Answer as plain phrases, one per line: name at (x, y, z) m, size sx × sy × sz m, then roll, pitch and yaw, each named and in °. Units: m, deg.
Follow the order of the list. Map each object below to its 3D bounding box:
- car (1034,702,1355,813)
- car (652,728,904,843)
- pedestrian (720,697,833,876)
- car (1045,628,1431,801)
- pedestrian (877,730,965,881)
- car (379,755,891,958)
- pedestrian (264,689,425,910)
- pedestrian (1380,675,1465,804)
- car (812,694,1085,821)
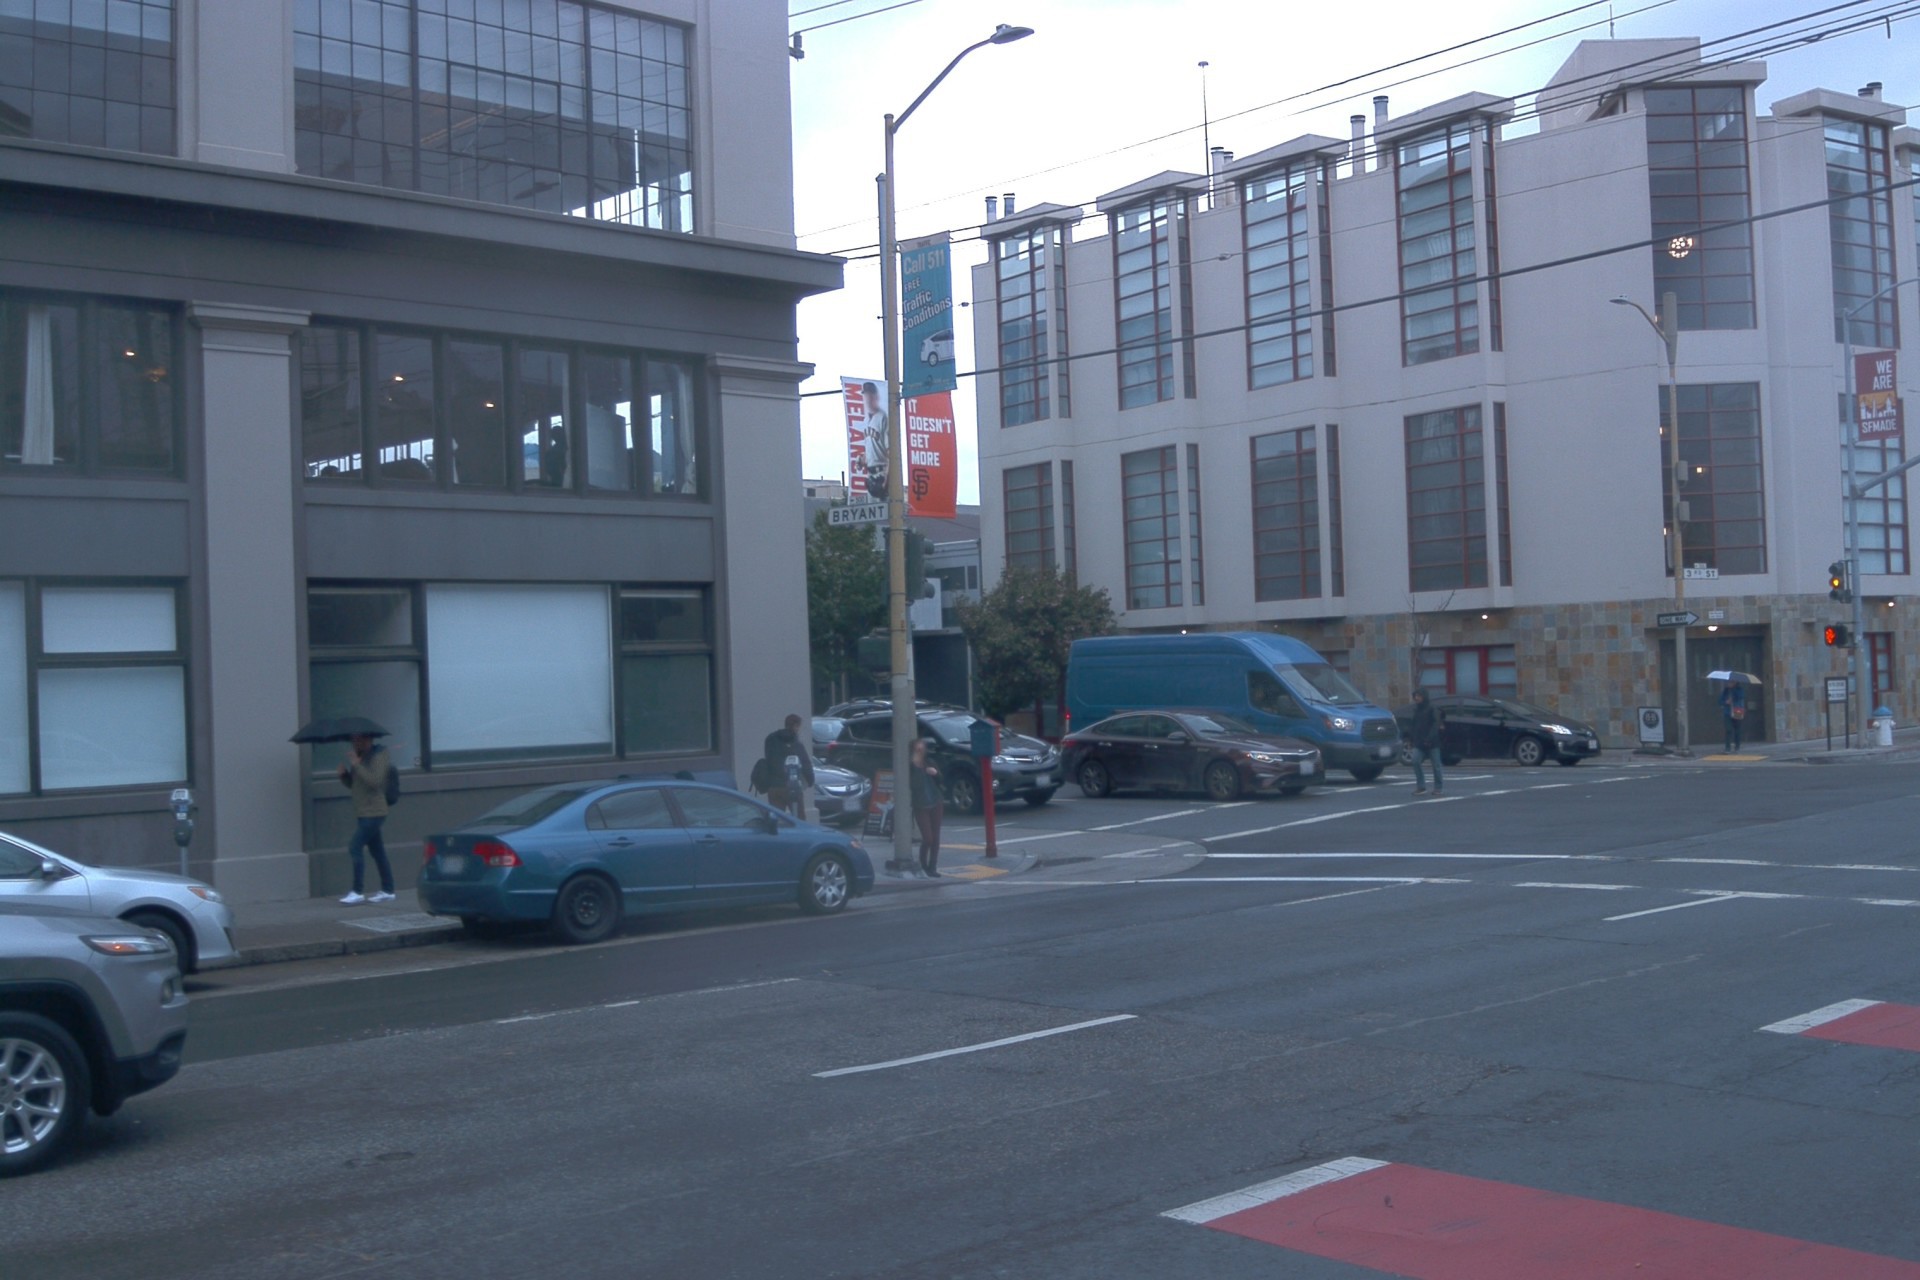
car at (3.750, 1.847, 33.952) m, size 2.239 × 1.530 × 4.968 m, roll 0°, pitch 0°, yaw -42°
car at (-2.864, 2.207, 32.343) m, size 3.718 × 1.530 × 1.919 m, roll 0°, pitch 0°, yaw 43°
pedestrian at (-2.125, 1.672, 24.158) m, size 0.911 × 1.990 × 0.965 m, roll 0°, pitch 0°, yaw 28°
car at (4.852, 1.229, 37.401) m, size 2.535 × 2.840 × 6.740 m, roll 0°, pitch 0°, yaw -45°
pedestrian at (-0.450, 1.890, 23.987) m, size 0.826 × 1.670 × 0.590 m, roll 0°, pitch 0°, yaw -43°
car at (-2.934, 1.911, 19.442) m, size 4.430 × 1.440 × 1.913 m, roll 0°, pitch 0°, yaw -44°
pedestrian at (-6.230, 1.572, 21.050) m, size 1.190 × 2.110 × 1.132 m, roll 0°, pitch 0°, yaw -43°
pedestrian at (7.143, 1.516, 32.126) m, size 0.873 × 1.920 × 1.018 m, roll 0°, pitch 0°, yaw 43°
car at (-0.244, 1.855, 34.150) m, size 2.022 × 1.830 × 4.394 m, roll 0°, pitch 0°, yaw -44°
